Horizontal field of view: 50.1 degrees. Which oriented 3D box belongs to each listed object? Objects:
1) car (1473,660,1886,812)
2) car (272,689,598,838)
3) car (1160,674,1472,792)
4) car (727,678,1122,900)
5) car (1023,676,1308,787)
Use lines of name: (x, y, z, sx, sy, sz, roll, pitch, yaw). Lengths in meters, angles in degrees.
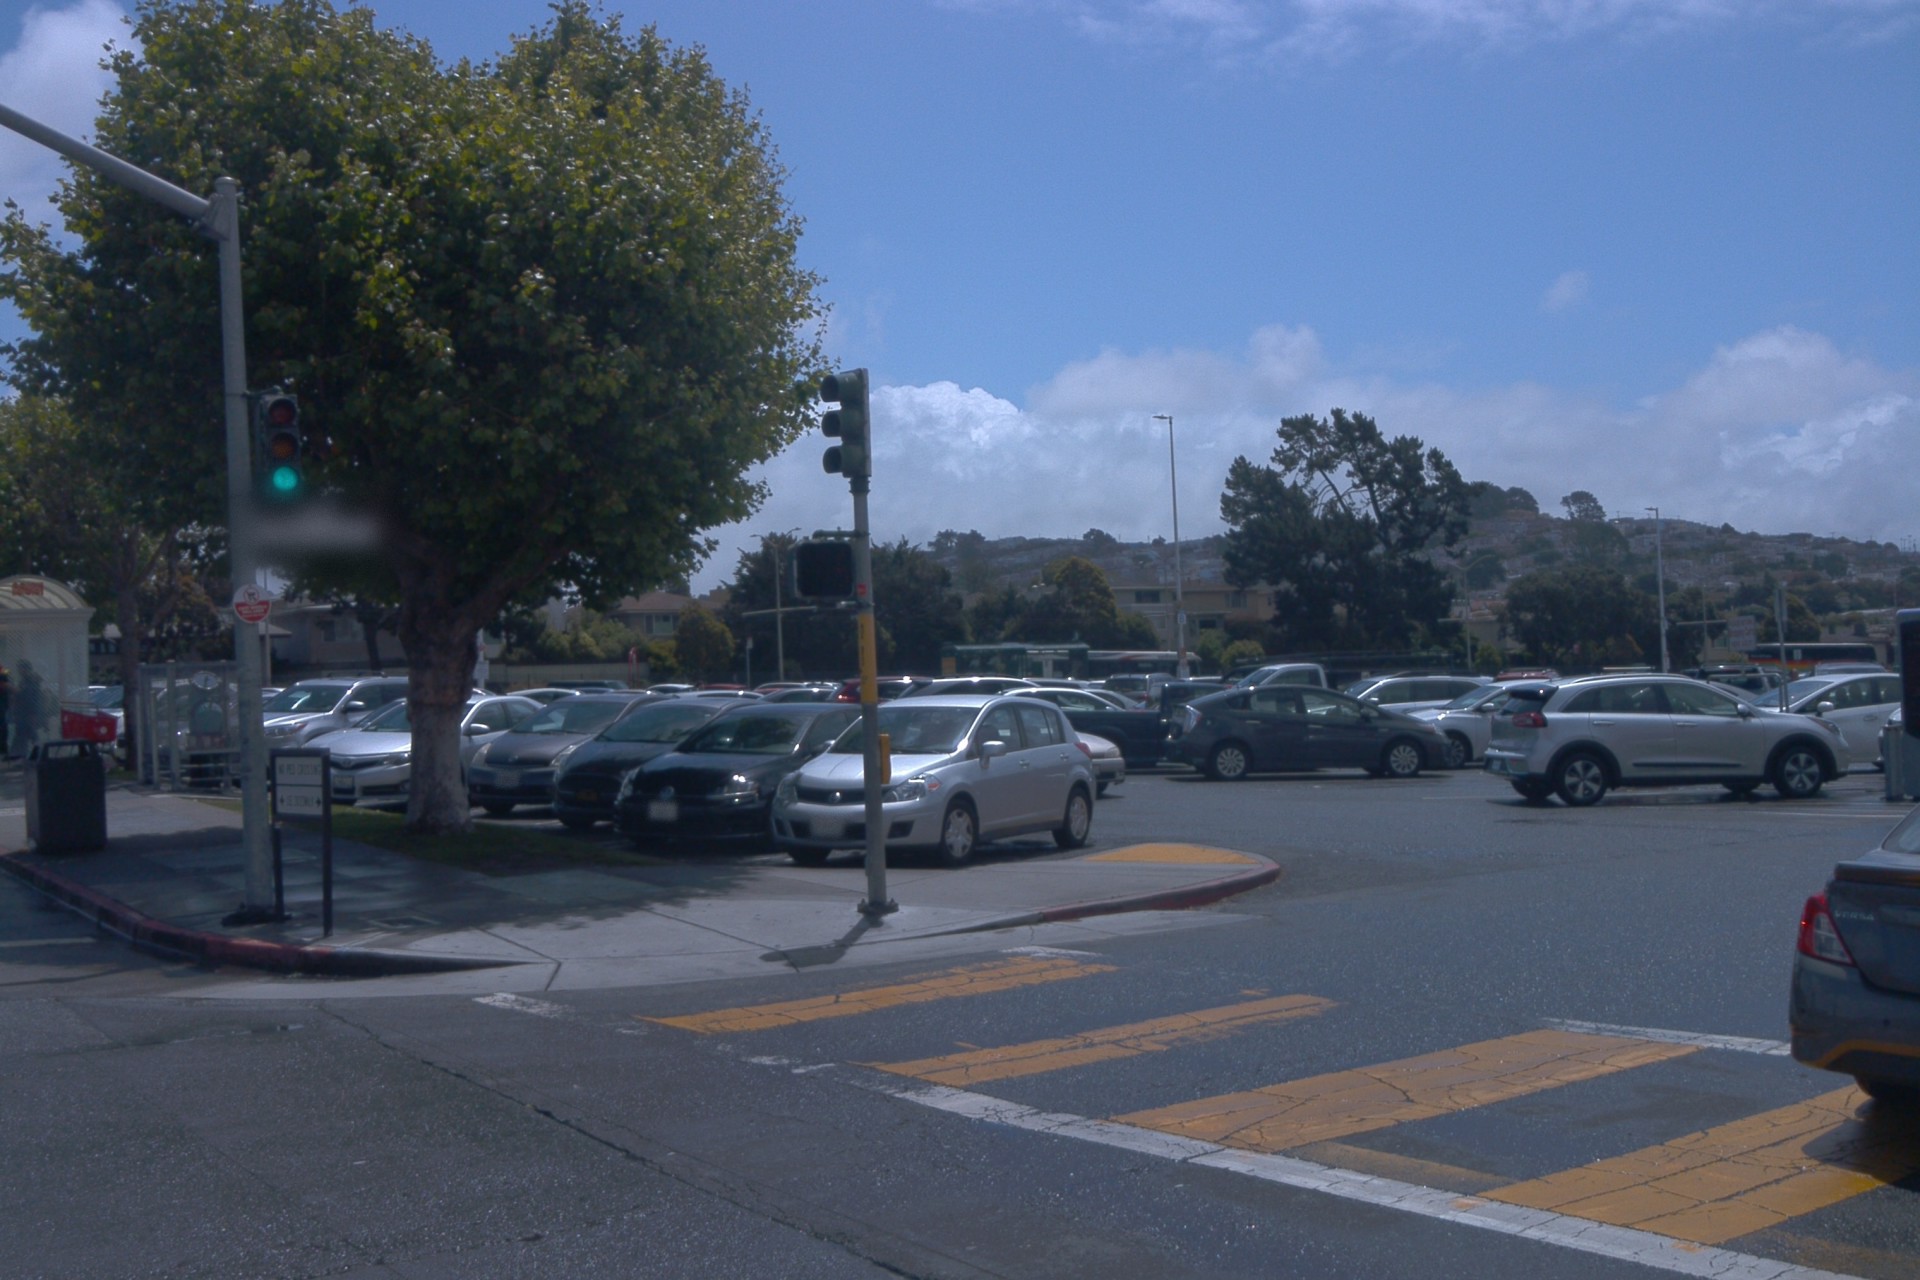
car: (8.696, 1.130, 25.086, 4.323, 1.710, 1.949, 0, 1, -4)
car: (-6.958, 1.575, 27.785, 2.120, 1.660, 4.446, 0, 1, 20)
car: (5.512, 1.426, 32.194, 4.445, 1.710, 2.053, 0, 1, -3)
car: (-0.196, 1.288, 19.489, 1.982, 1.700, 4.252, 0, 1, 27)
car: (3.382, 1.503, 34.468, 4.444, 1.710, 2.053, 0, 1, -4)
